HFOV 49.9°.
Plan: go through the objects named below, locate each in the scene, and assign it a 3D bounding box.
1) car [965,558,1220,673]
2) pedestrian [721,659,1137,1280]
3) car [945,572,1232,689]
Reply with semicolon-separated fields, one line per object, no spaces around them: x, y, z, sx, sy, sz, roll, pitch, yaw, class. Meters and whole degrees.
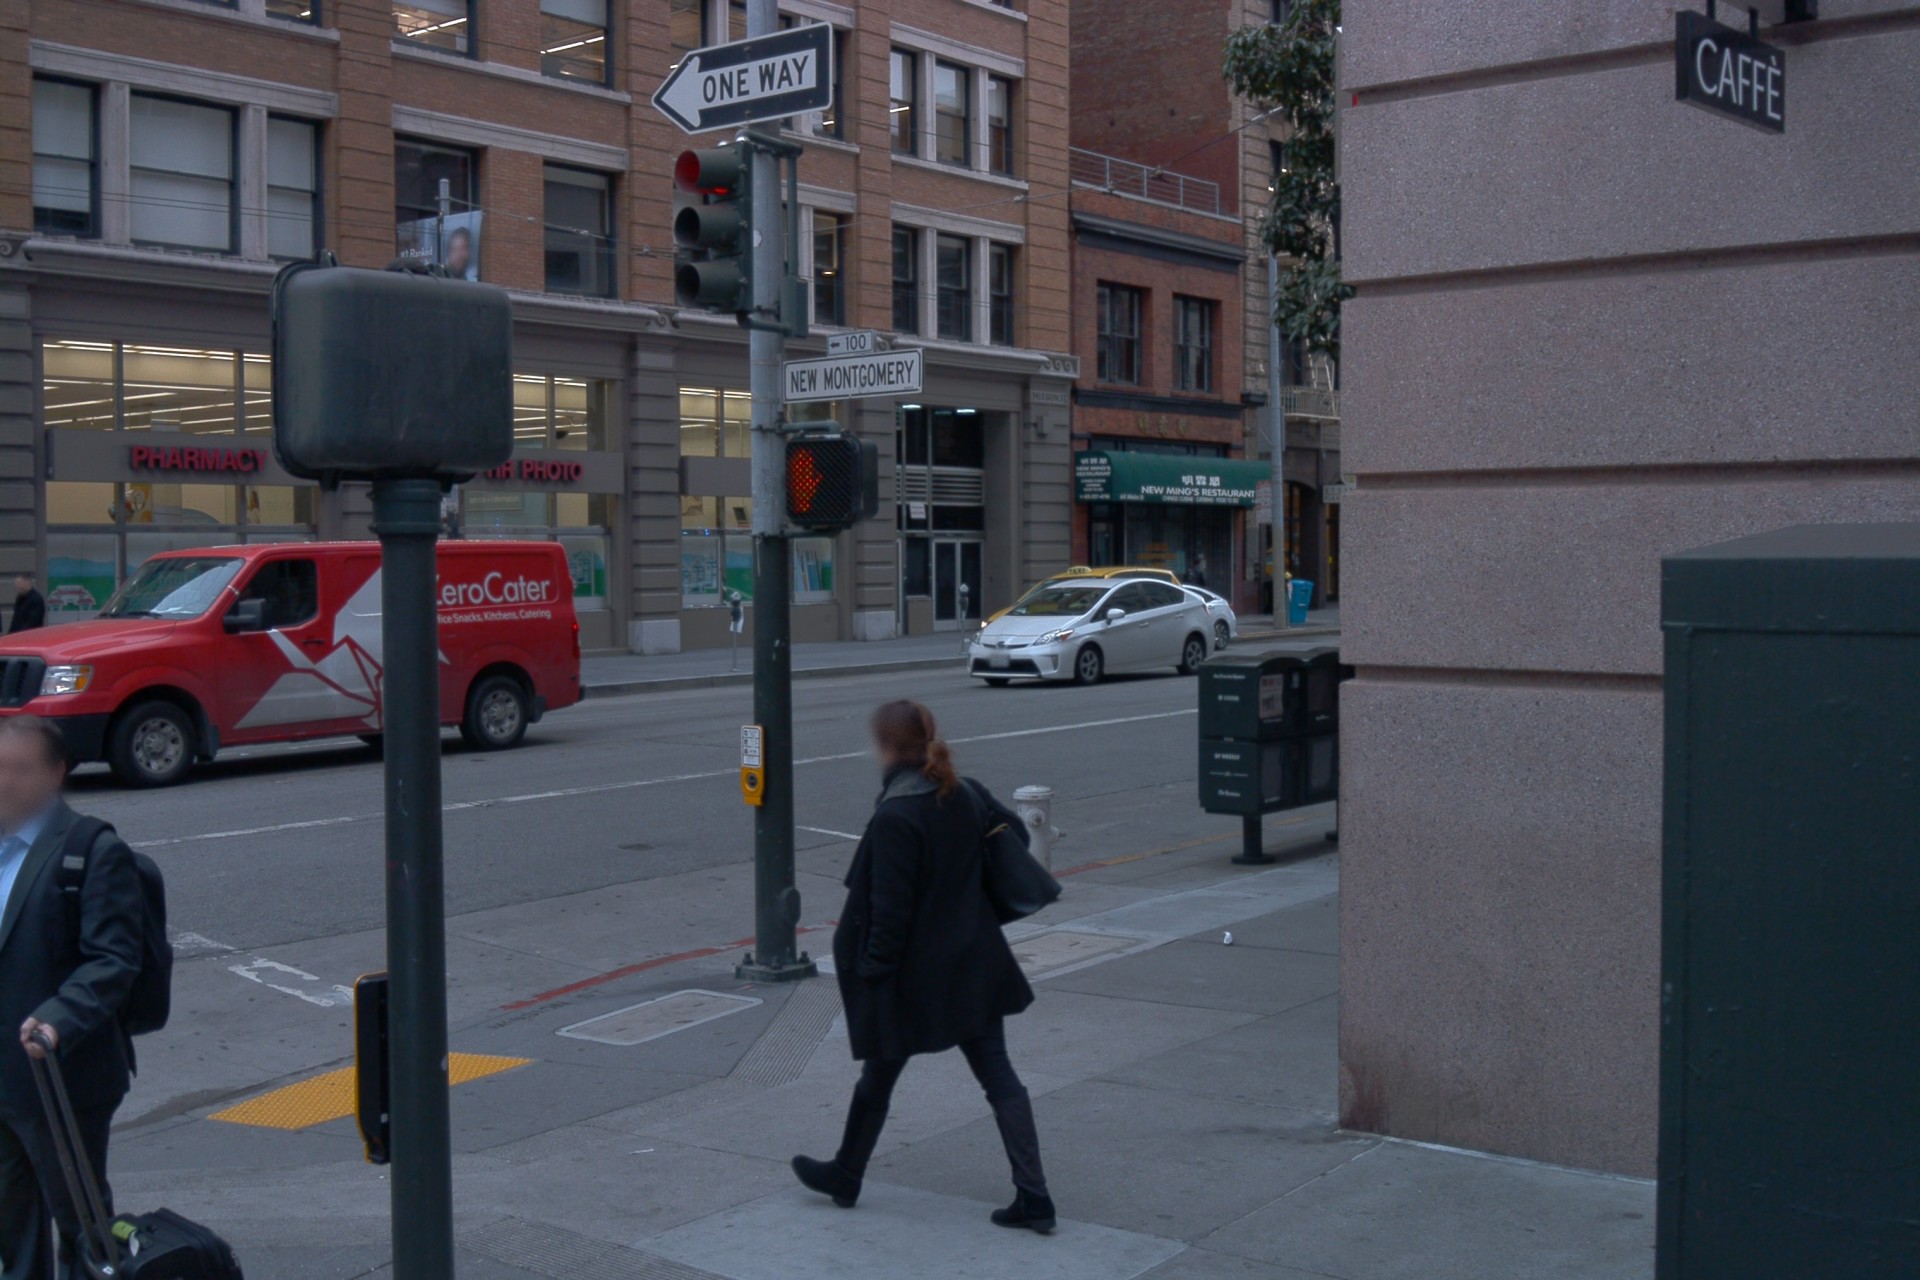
2.279;-0.408;34.574;1.992;1.800;4.401;0;1;41;car
-0.091;0.919;6.153;0.963;1.700;0.780;0;1;39;pedestrian
1.933;-0.151;29.852;1.948;1.550;4.391;0;1;39;car
